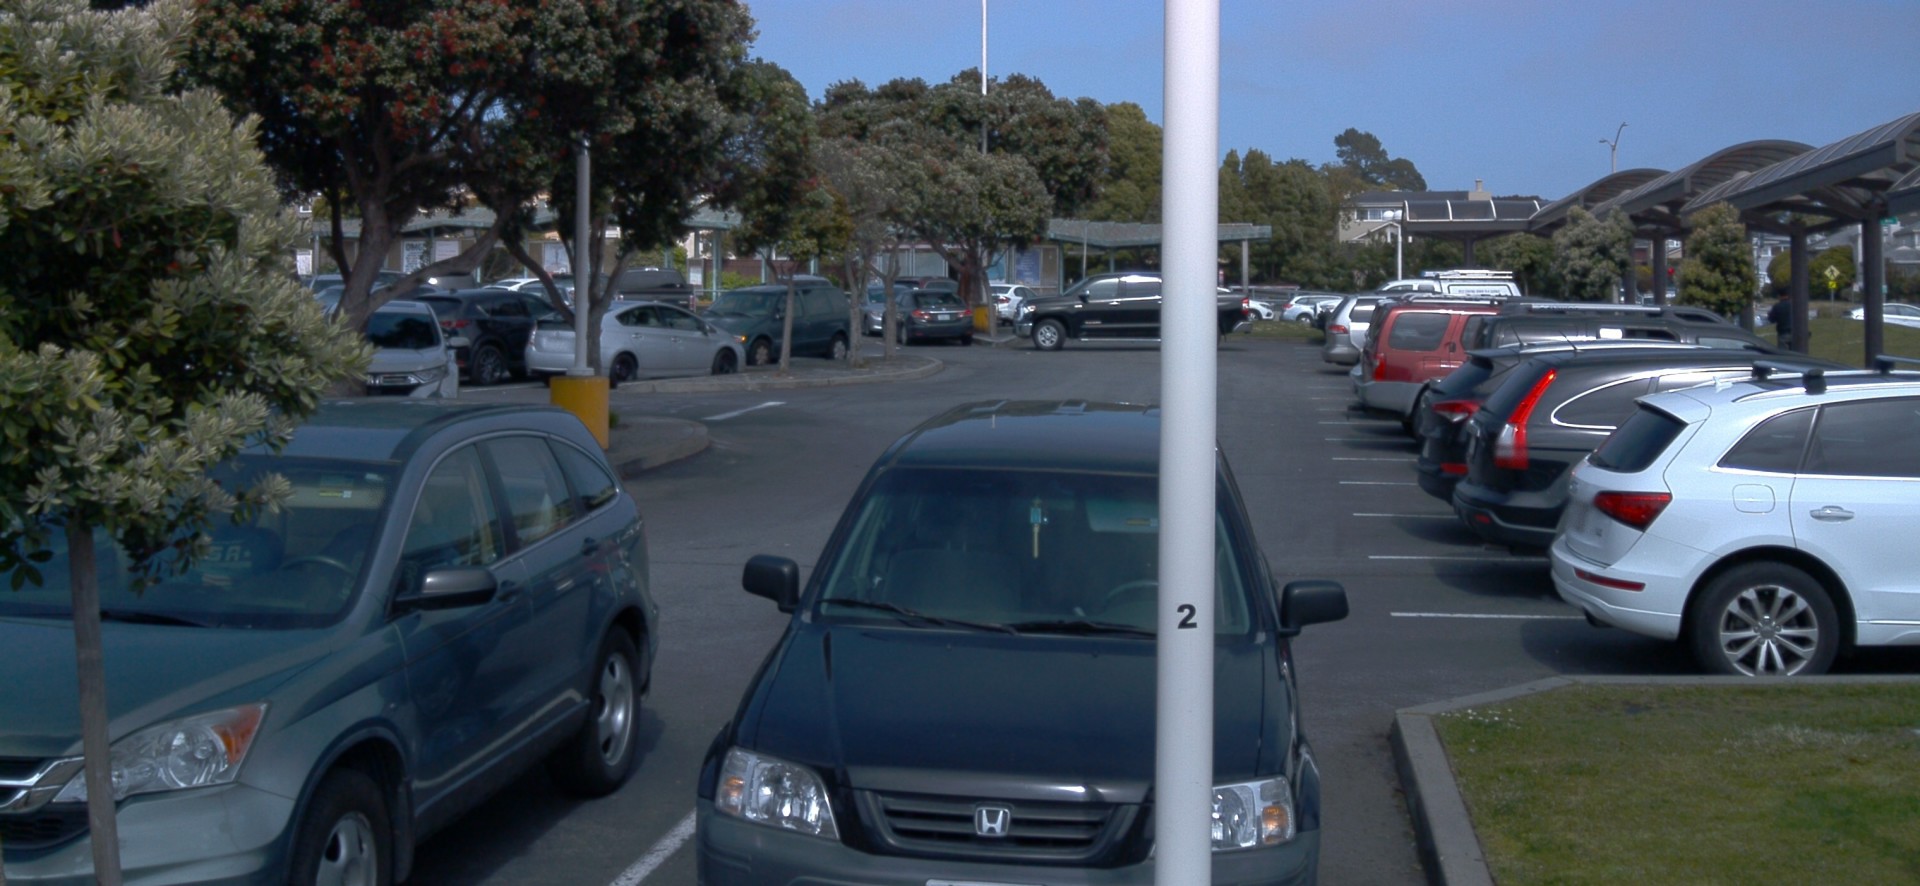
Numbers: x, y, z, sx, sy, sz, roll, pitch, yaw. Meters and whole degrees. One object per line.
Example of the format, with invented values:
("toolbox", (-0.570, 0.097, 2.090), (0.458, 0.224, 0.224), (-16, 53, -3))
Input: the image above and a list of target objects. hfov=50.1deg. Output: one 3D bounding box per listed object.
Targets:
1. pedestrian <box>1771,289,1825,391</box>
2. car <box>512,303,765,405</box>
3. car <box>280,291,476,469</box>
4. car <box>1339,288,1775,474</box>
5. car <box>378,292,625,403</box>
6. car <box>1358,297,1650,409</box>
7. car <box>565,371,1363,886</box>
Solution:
("pedestrian", (14.186, -1.754, 34.799), (0.762, 1.699, 0.467), (0, 1, 11))
("car", (-5.607, -1.637, 36.362), (1.913, 1.535, 4.490), (2, 6, 33))
("car", (-7.096, -0.883, 25.189), (2.109, 1.833, 4.519), (-1, 5, -15))
("car", (7.050, -0.803, 24.738), (4.717, 2.067, 2.162), (0, 3, 5))
("car", (-8.156, -1.775, 36.976), (1.892, 1.734, 4.435), (2, 5, 28))
("car", (9.117, -1.557, 34.772), (4.516, 1.767, 2.061), (0, 3, 6))
("car", (0.246, 0.782, 7.509), (2.052, 1.773, 4.553), (0, 5, 6))
